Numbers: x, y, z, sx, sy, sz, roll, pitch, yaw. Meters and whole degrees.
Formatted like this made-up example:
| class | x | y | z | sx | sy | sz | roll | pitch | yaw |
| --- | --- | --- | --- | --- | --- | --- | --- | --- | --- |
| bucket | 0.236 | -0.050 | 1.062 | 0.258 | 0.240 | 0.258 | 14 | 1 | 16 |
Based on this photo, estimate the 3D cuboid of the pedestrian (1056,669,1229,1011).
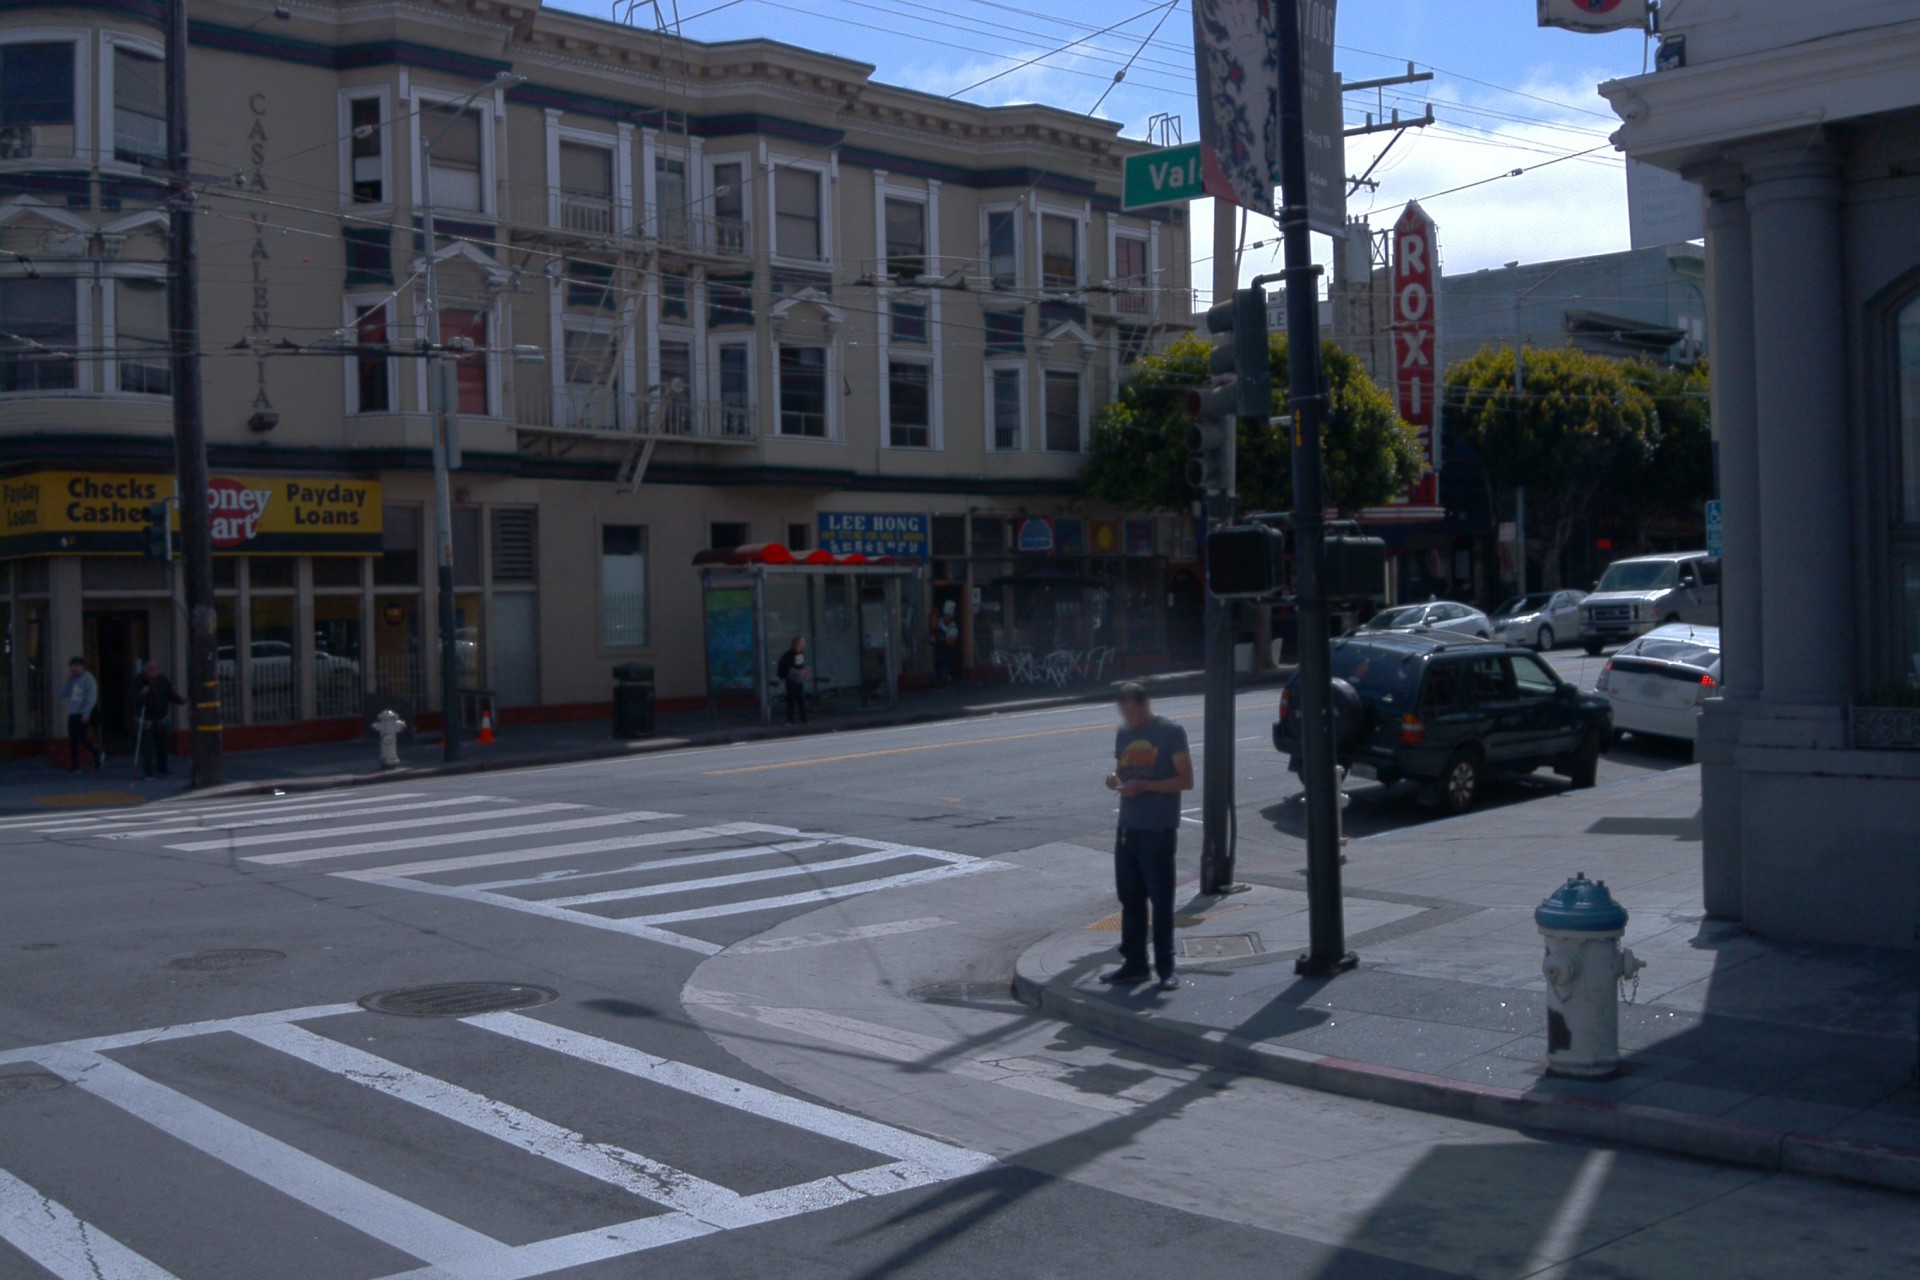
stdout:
| class | x | y | z | sx | sy | sz | roll | pitch | yaw |
| --- | --- | --- | --- | --- | --- | --- | --- | --- | --- |
| pedestrian | 1.059 | 1.124 | 11.951 | 0.690 | 1.880 | 0.721 | 0 | 0 | -41 |

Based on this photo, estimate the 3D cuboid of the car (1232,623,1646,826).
| class | x | y | z | sx | sy | sz | roll | pitch | yaw |
| --- | --- | --- | --- | --- | --- | --- | --- | --- | --- |
| car | 5.101 | 0.771 | 21.507 | 2.130 | 1.870 | 4.629 | 0 | 1 | 44 |

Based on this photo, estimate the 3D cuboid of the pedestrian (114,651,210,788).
| class | x | y | z | sx | sy | sz | roll | pitch | yaw |
| --- | --- | --- | --- | --- | --- | --- | --- | --- | --- |
| pedestrian | -10.901 | 1.062 | 28.066 | 0.995 | 1.790 | 1.336 | 0 | 0 | -32 |

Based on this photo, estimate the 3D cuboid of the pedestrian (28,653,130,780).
| class | x | y | z | sx | sy | sz | roll | pitch | yaw |
| --- | --- | --- | --- | --- | --- | --- | --- | --- | --- |
| pedestrian | -12.392 | 1.057 | 28.936 | 0.919 | 1.720 | 0.962 | 0 | 0 | 28 |

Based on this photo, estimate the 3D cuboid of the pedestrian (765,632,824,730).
| class | x | y | z | sx | sy | sz | roll | pitch | yaw |
| --- | --- | --- | --- | --- | --- | --- | --- | --- | --- |
| pedestrian | -2.778 | 0.672 | 34.480 | 0.673 | 1.610 | 0.840 | 0 | 0 | -31 |
